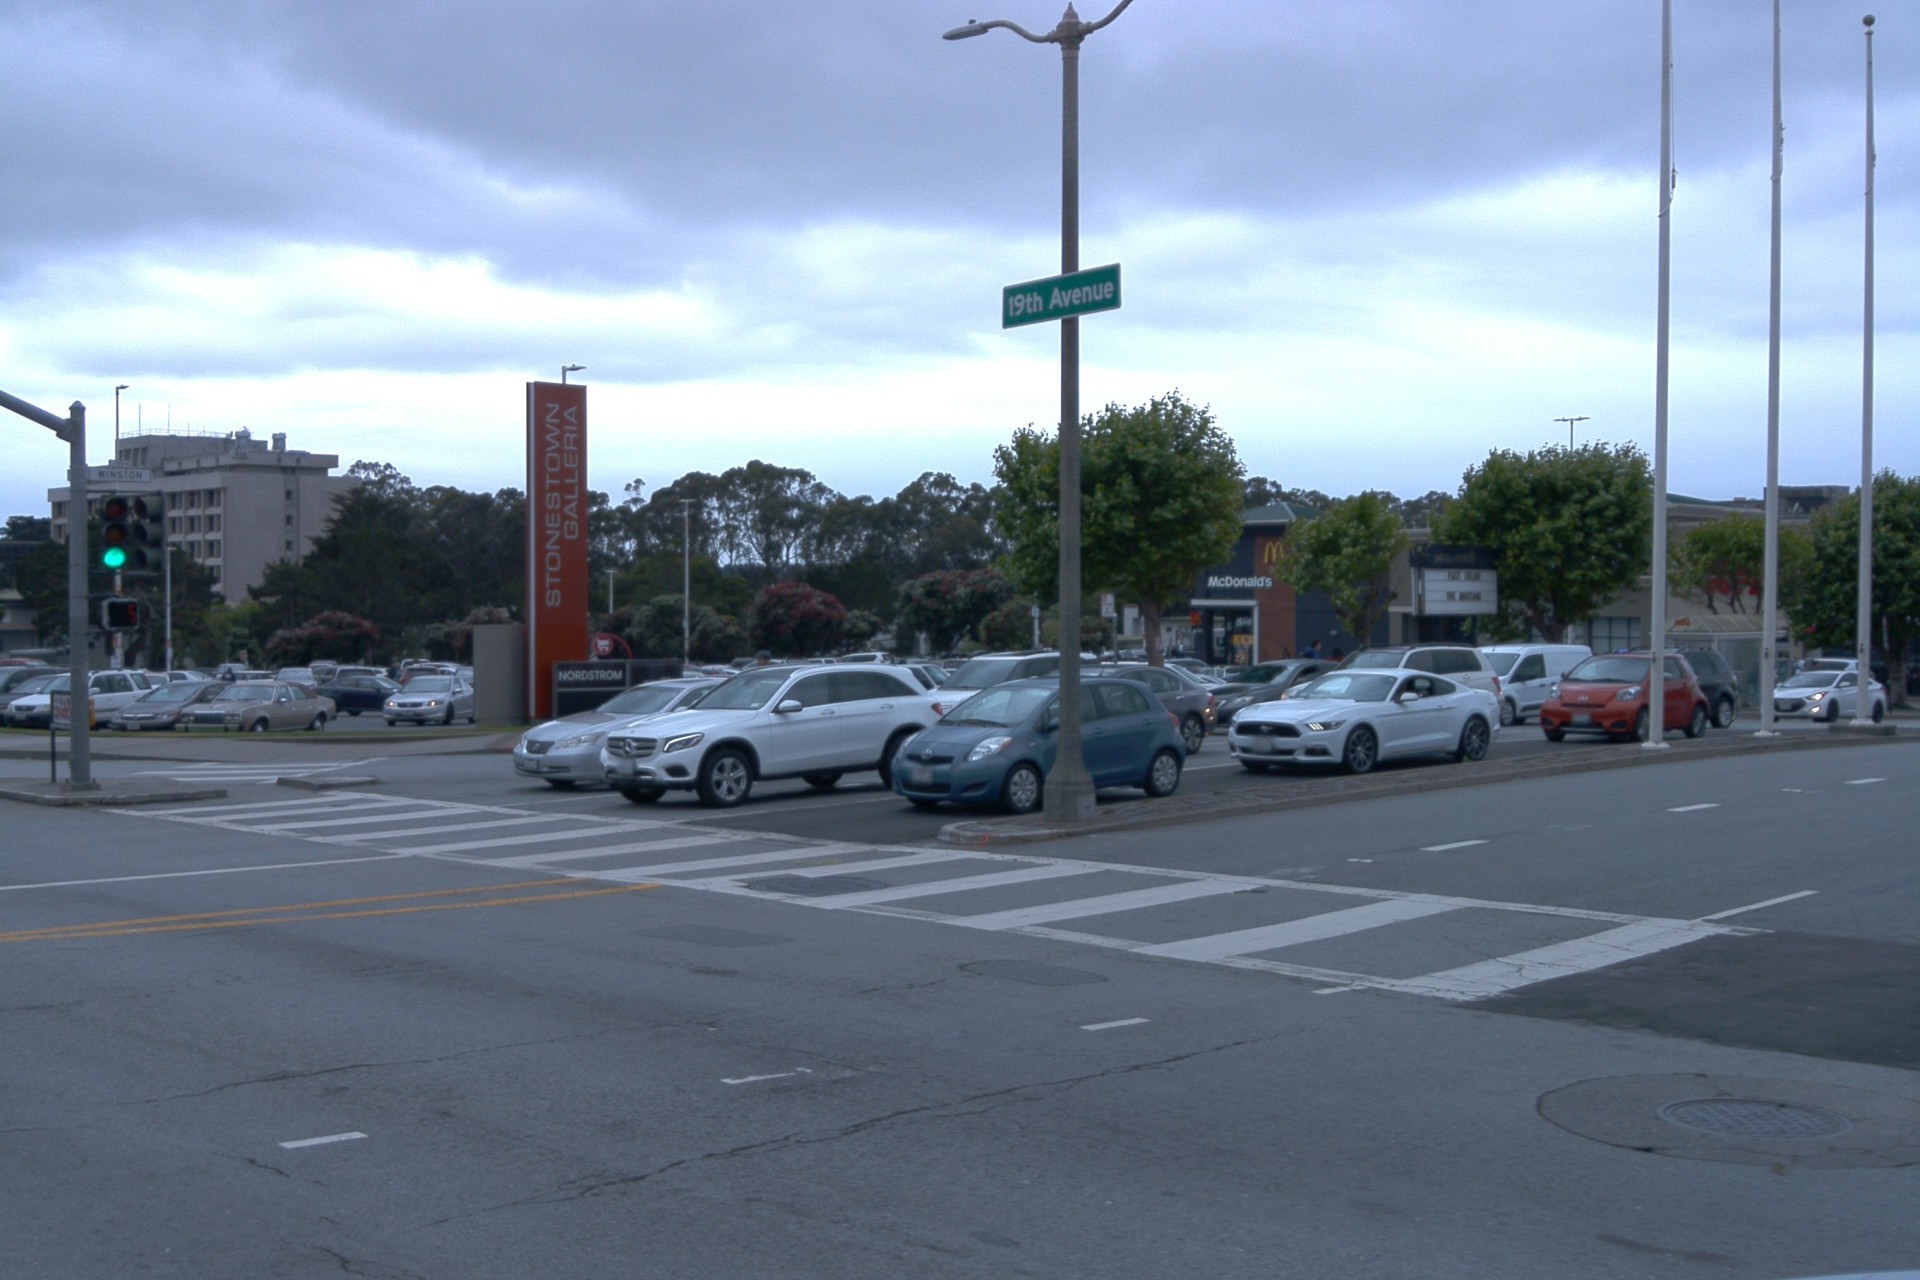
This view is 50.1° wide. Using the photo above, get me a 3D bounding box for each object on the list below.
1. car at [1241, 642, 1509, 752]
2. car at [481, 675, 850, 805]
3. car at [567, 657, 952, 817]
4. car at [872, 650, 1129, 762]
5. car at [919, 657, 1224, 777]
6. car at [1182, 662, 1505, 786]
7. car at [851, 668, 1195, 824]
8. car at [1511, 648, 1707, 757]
[{"bbox_3d":[7.431,0.961,36.640,4.545,1.780,2.201,-1,1,-37],"label":"car"},{"bbox_3d":[-4.070,1.331,28.958,4.768,1.550,2.139,-1,1,-43],"label":"car"},{"bbox_3d":[-2.473,1.142,26.116,4.518,1.770,2.128,-1,1,-44],"label":"car"},{"bbox_3d":[0.722,1.038,34.388,2.037,1.690,4.125,0,1,44],"label":"car"},{"bbox_3d":[1.788,1.106,31.515,2.338,1.600,4.725,0,1,39],"label":"car"},{"bbox_3d":[5.492,1.113,29.070,4.676,1.500,2.131,-1,1,-43],"label":"car"},{"bbox_3d":[0.804,1.179,24.419,2.001,1.590,3.859,0,1,44],"label":"car"},{"bbox_3d":[10.946,1.002,34.644,3.060,1.700,1.908,-1,1,-44],"label":"car"}]
